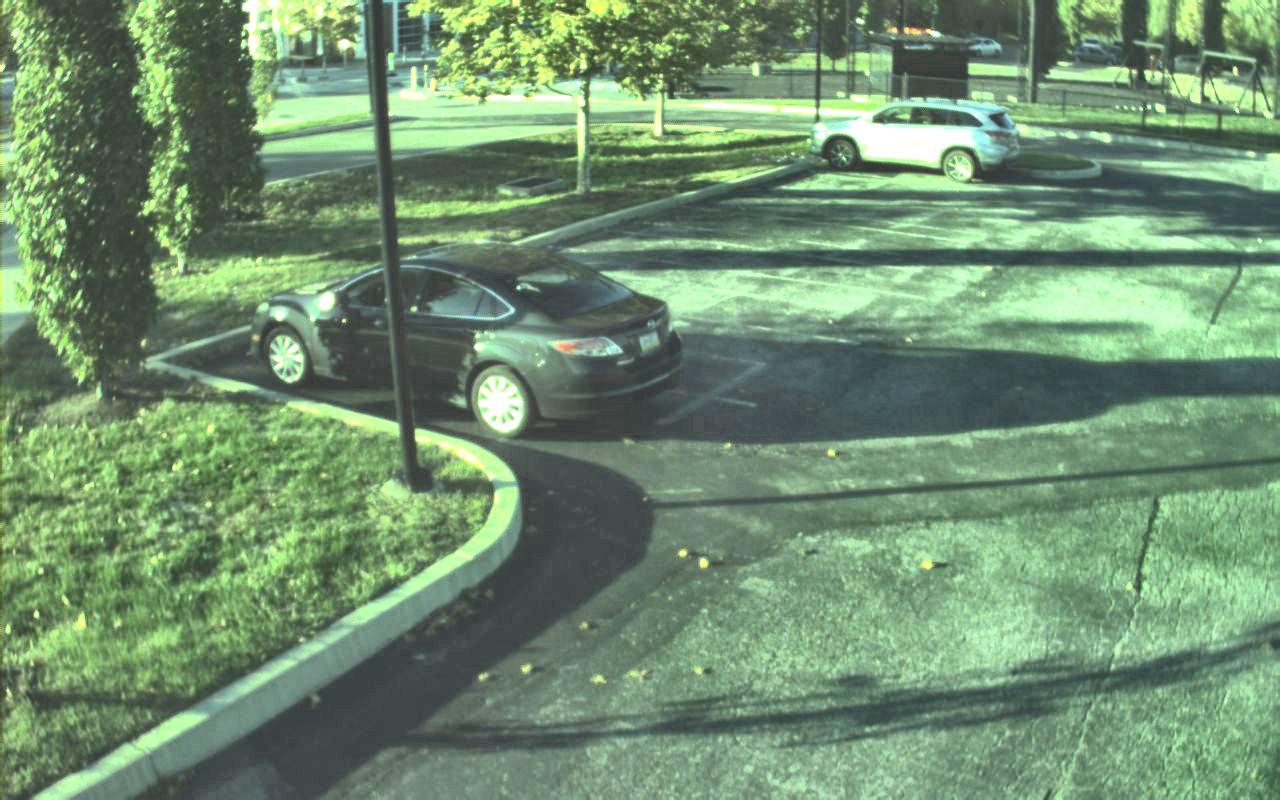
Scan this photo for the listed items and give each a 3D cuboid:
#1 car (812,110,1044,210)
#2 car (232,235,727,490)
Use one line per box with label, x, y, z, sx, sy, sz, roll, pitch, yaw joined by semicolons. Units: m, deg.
car;6.530;-5.467;27.605;4.939;1.874;2.085;8;17;29
car;-1.677;-0.555;12.141;4.628;1.592;1.979;8;18;30
